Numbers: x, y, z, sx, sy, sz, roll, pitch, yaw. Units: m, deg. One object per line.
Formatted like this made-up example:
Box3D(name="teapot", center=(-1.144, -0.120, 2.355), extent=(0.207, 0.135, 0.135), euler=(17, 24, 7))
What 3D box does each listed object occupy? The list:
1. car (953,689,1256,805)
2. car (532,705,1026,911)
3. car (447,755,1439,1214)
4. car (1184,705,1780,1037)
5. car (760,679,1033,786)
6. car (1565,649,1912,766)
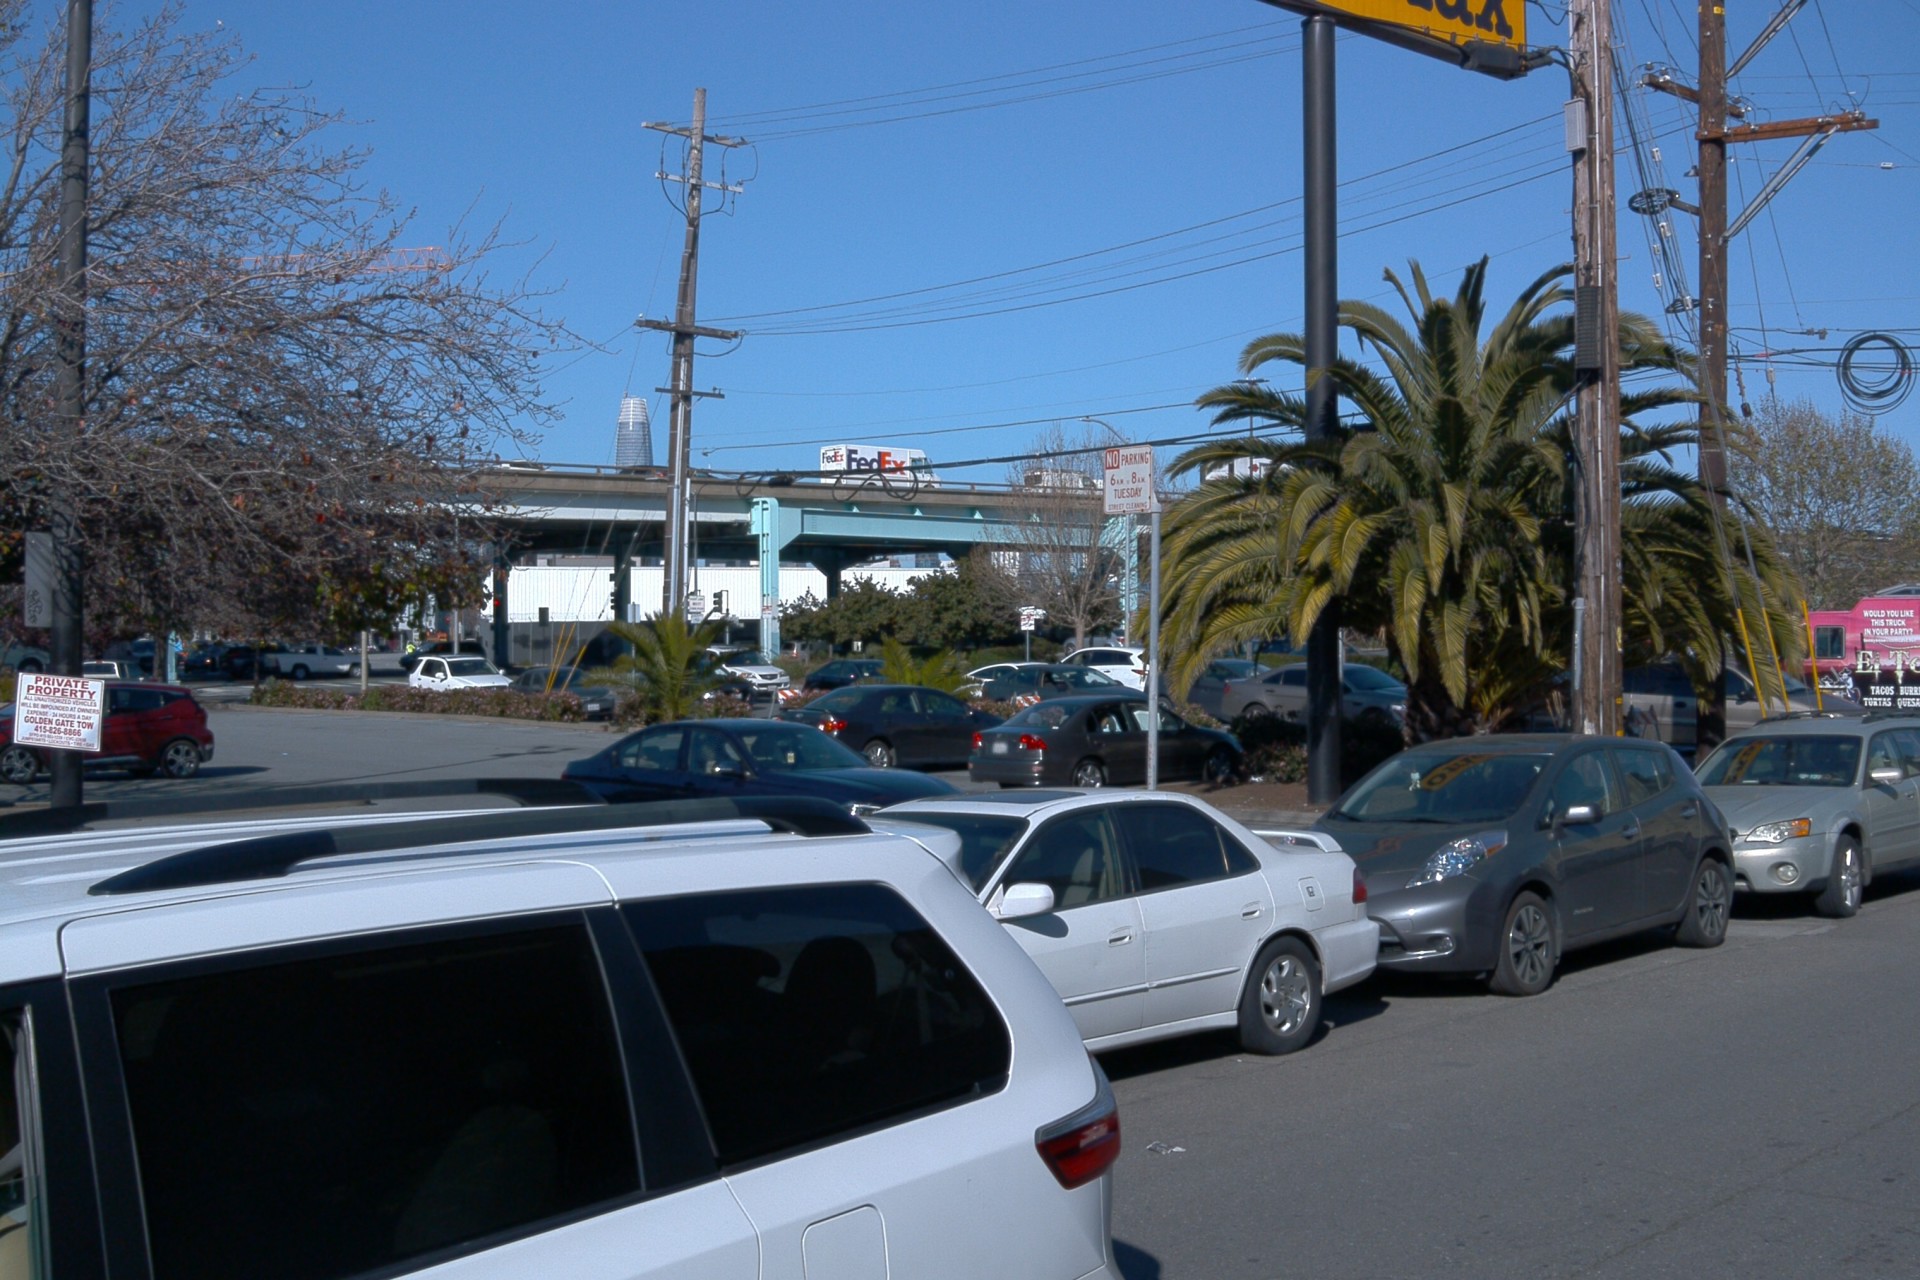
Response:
Box3D(name="car", center=(2.139, 1.488, 29.713), extent=(4.332, 1.440, 1.733), euler=(0, 1, -39))
Box3D(name="car", center=(-1.811, 1.483, 19.520), extent=(4.573, 1.510, 2.073), euler=(1, 1, 41))
Box3D(name="car", center=(0.141, 1.463, 10.353), extent=(4.874, 1.440, 2.116), euler=(0, 1, -44))
Box3D(name="car", center=(3.627, 1.371, 13.794), extent=(1.943, 1.680, 4.354), euler=(1, 1, 44))
Box3D(name="car", center=(-0.987, 1.458, 33.645), extent=(4.332, 1.530, 1.733), euler=(0, 1, -41))
Box3D(name="car", center=(13.282, 1.088, 35.312), extent=(5.161, 1.770, 2.033), euler=(1, 1, 44))
